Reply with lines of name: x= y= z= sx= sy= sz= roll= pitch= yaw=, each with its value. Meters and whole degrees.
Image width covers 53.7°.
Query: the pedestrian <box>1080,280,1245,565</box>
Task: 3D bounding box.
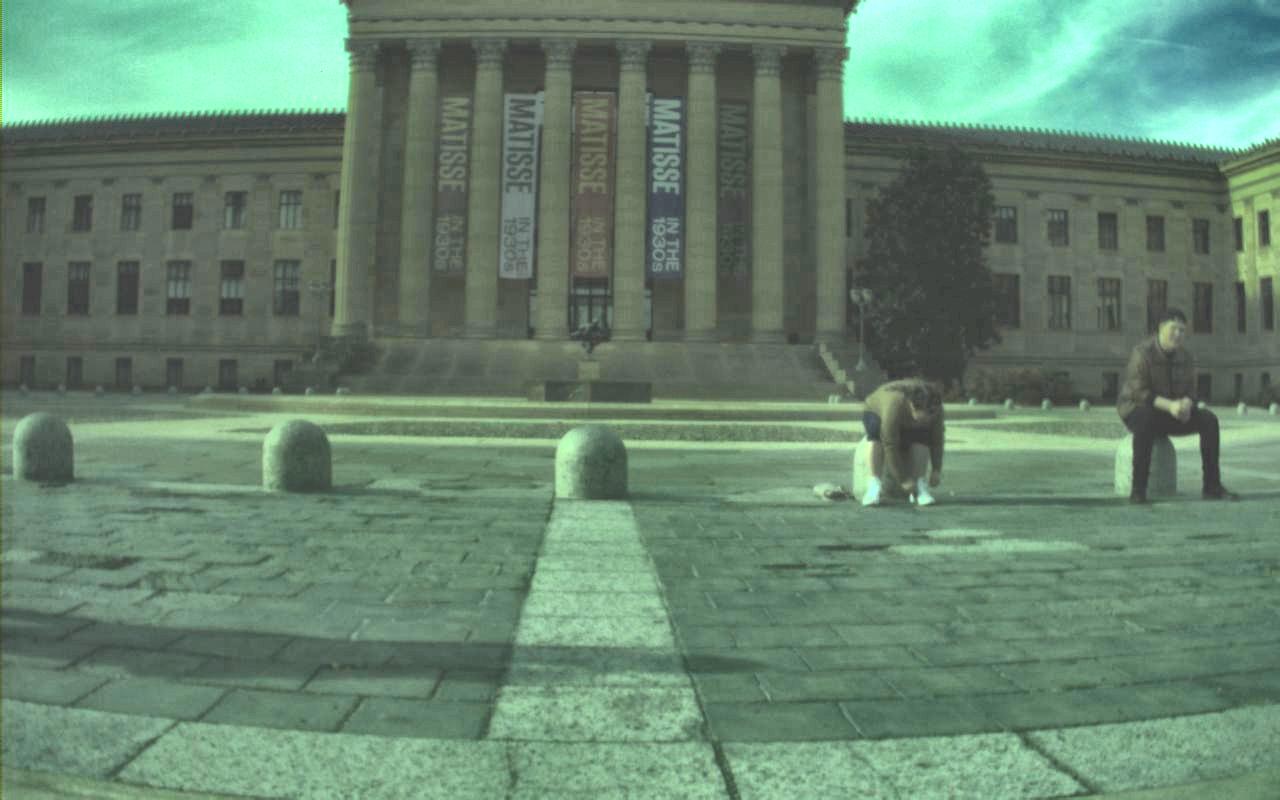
pedestrian: x=3.477 y=0.151 z=7.814 sx=0.873 sy=1.784 sz=0.861 roll=0 pitch=0 yaw=0

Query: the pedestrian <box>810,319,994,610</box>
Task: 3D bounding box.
pedestrian: x=1.614 y=0.369 z=7.678 sx=0.816 sy=1.686 sz=0.833 roll=0 pitch=0 yaw=-21
